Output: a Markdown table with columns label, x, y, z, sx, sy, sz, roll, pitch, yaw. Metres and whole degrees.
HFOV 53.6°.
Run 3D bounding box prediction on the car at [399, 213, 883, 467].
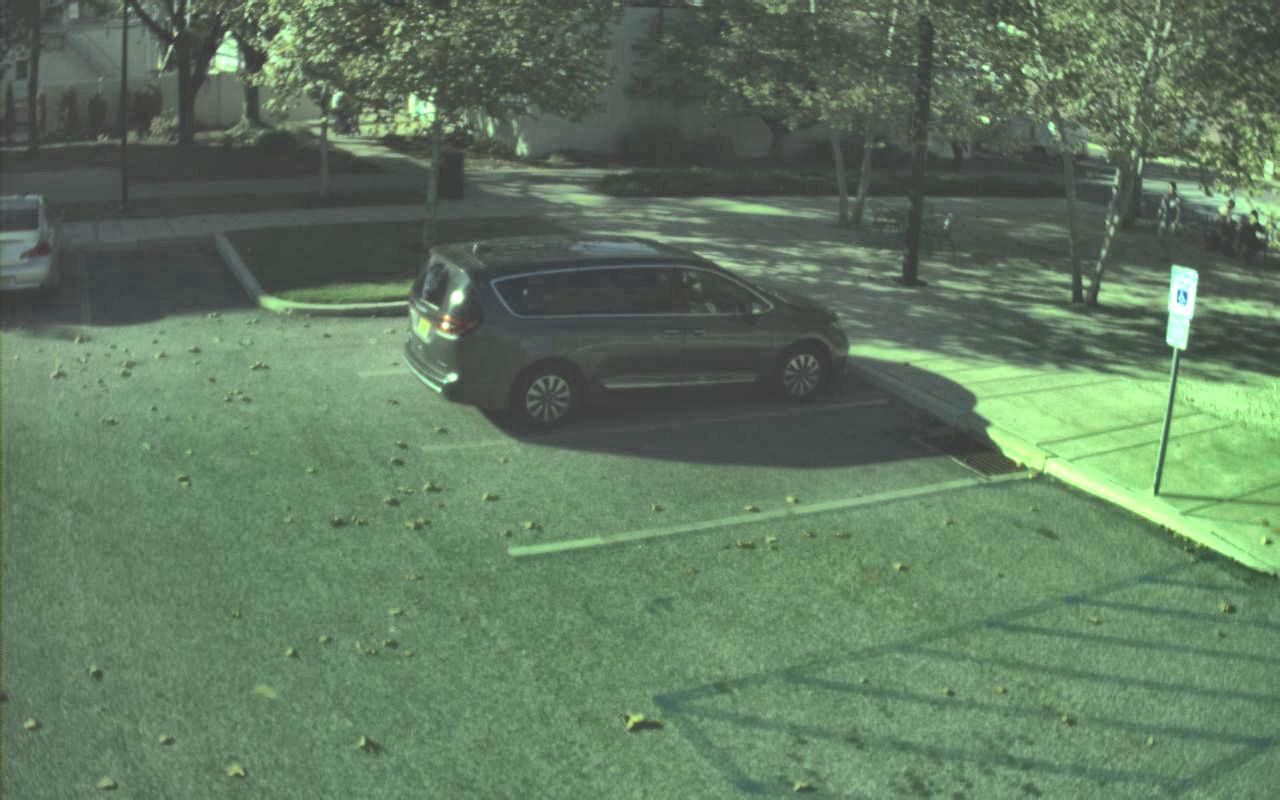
| label | x | y | z | sx | sy | sz | roll | pitch | yaw |
| --- | --- | --- | --- | --- | --- | --- | --- | --- | --- |
| car | 0.053 | -0.835 | 13.823 | 4.922 | 1.804 | 2.067 | -9 | 18 | -25 |

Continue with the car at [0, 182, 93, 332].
| label | x | y | z | sx | sy | sz | roll | pitch | yaw |
| --- | --- | --- | --- | --- | --- | --- | --- | --- | --- |
| car | -10.087 | -2.334 | 17.601 | 1.943 | 1.579 | 4.427 | -13 | 21 | -36 |
